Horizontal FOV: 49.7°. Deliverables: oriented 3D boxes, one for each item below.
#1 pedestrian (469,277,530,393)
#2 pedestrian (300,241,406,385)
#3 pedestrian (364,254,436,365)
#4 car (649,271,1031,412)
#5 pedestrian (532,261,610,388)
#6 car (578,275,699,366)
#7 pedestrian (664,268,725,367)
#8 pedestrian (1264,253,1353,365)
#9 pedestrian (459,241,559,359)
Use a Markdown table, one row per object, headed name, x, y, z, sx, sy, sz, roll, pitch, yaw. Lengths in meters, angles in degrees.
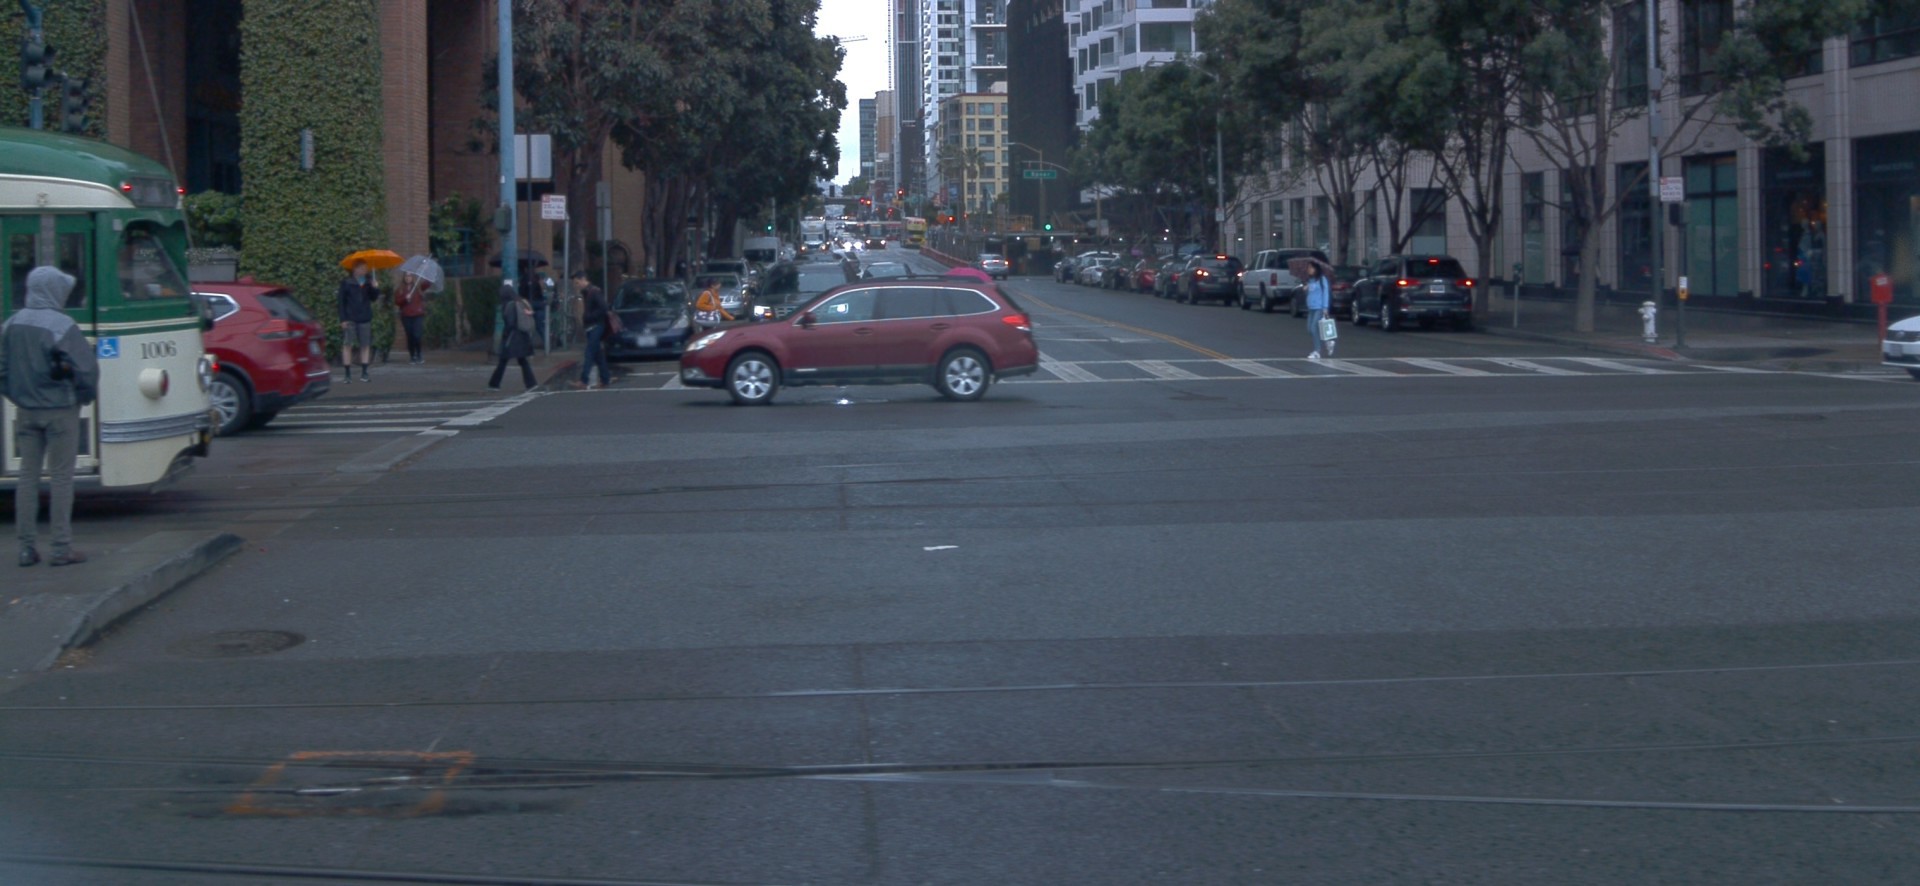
| name | x | y | z | sx | sy | sz | roll | pitch | yaw |
| --- | --- | --- | --- | --- | --- | --- | --- | --- | --- |
| pedestrian | -6.782 | -1.604 | 30.578 | 0.764 | 1.660 | 0.739 | 0 | 1 | -2 |
| pedestrian | -9.032 | -1.961 | 30.876 | 1.182 | 2.079 | 1.001 | -1 | 2 | -42 |
| pedestrian | -9.247 | -2.219 | 34.296 | 0.965 | 1.809 | 0.922 | 0 | 1 | -3 |
| car | -1.580 | -1.360 | 26.964 | 4.778 | 1.697 | 2.050 | 0 | 4 | -6 |
| pedestrian | -5.766 | -1.780 | 30.761 | 0.898 | 1.830 | 0.761 | -1 | 1 | -35 |
| car | -6.062 | -2.368 | 39.473 | 1.914 | 1.554 | 3.849 | 0 | 5 | -4 |
| pedestrian | -4.649 | -2.205 | 36.371 | 0.953 | 1.689 | 0.922 | 0 | 1 | 1 |
| pedestrian | 6.024 | -2.337 | 35.872 | 1.070 | 1.869 | 1.089 | -1 | 2 | -29 |
| pedestrian | -8.379 | -2.688 | 38.513 | 1.357 | 2.119 | 1.278 | 2 | 2 | 45 |
